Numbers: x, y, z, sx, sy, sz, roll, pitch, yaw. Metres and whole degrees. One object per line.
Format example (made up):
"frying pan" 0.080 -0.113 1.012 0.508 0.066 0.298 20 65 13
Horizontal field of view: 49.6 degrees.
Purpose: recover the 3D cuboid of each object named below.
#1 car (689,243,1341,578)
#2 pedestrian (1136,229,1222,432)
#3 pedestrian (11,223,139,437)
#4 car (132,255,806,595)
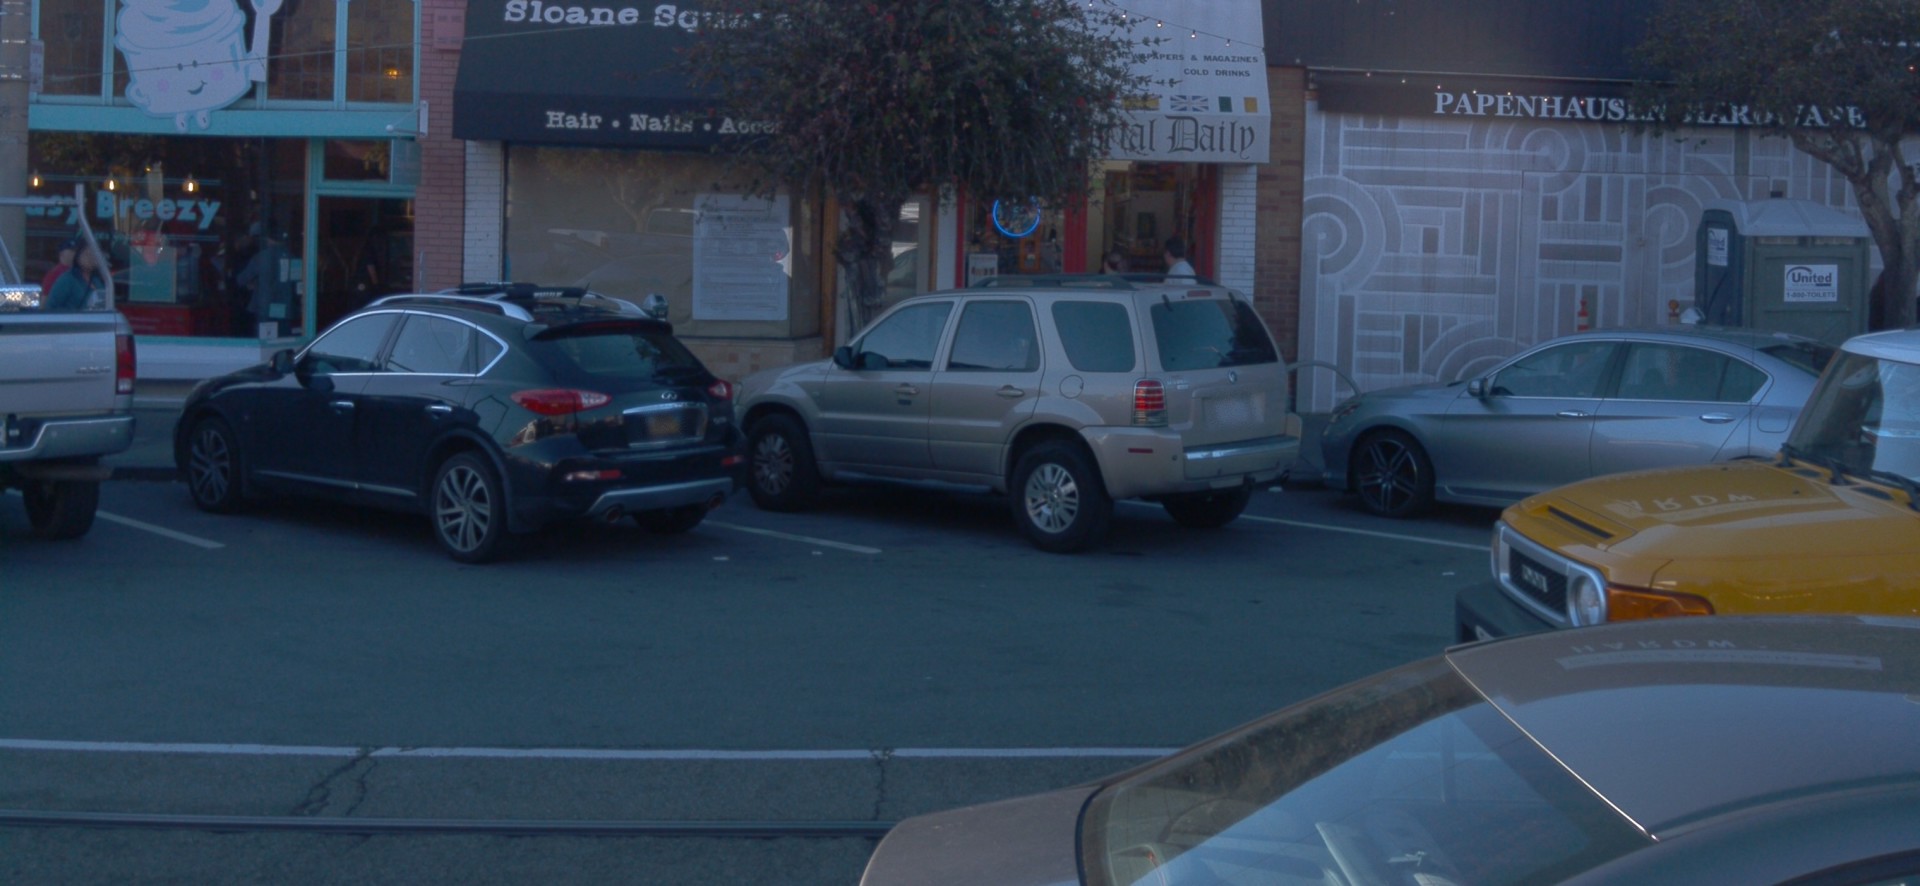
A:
"car" 0.280 -0.403 14.595 4.242 1.893 2.078 6 6 42
"pedestrian" 2.029 -1.070 19.306 0.730 1.816 0.924 1 2 3
"pedestrian" -7.518 -0.982 17.668 0.725 1.757 0.809 1 2 -1
"car" -3.427 -0.304 14.053 4.523 1.793 2.116 6 6 39
